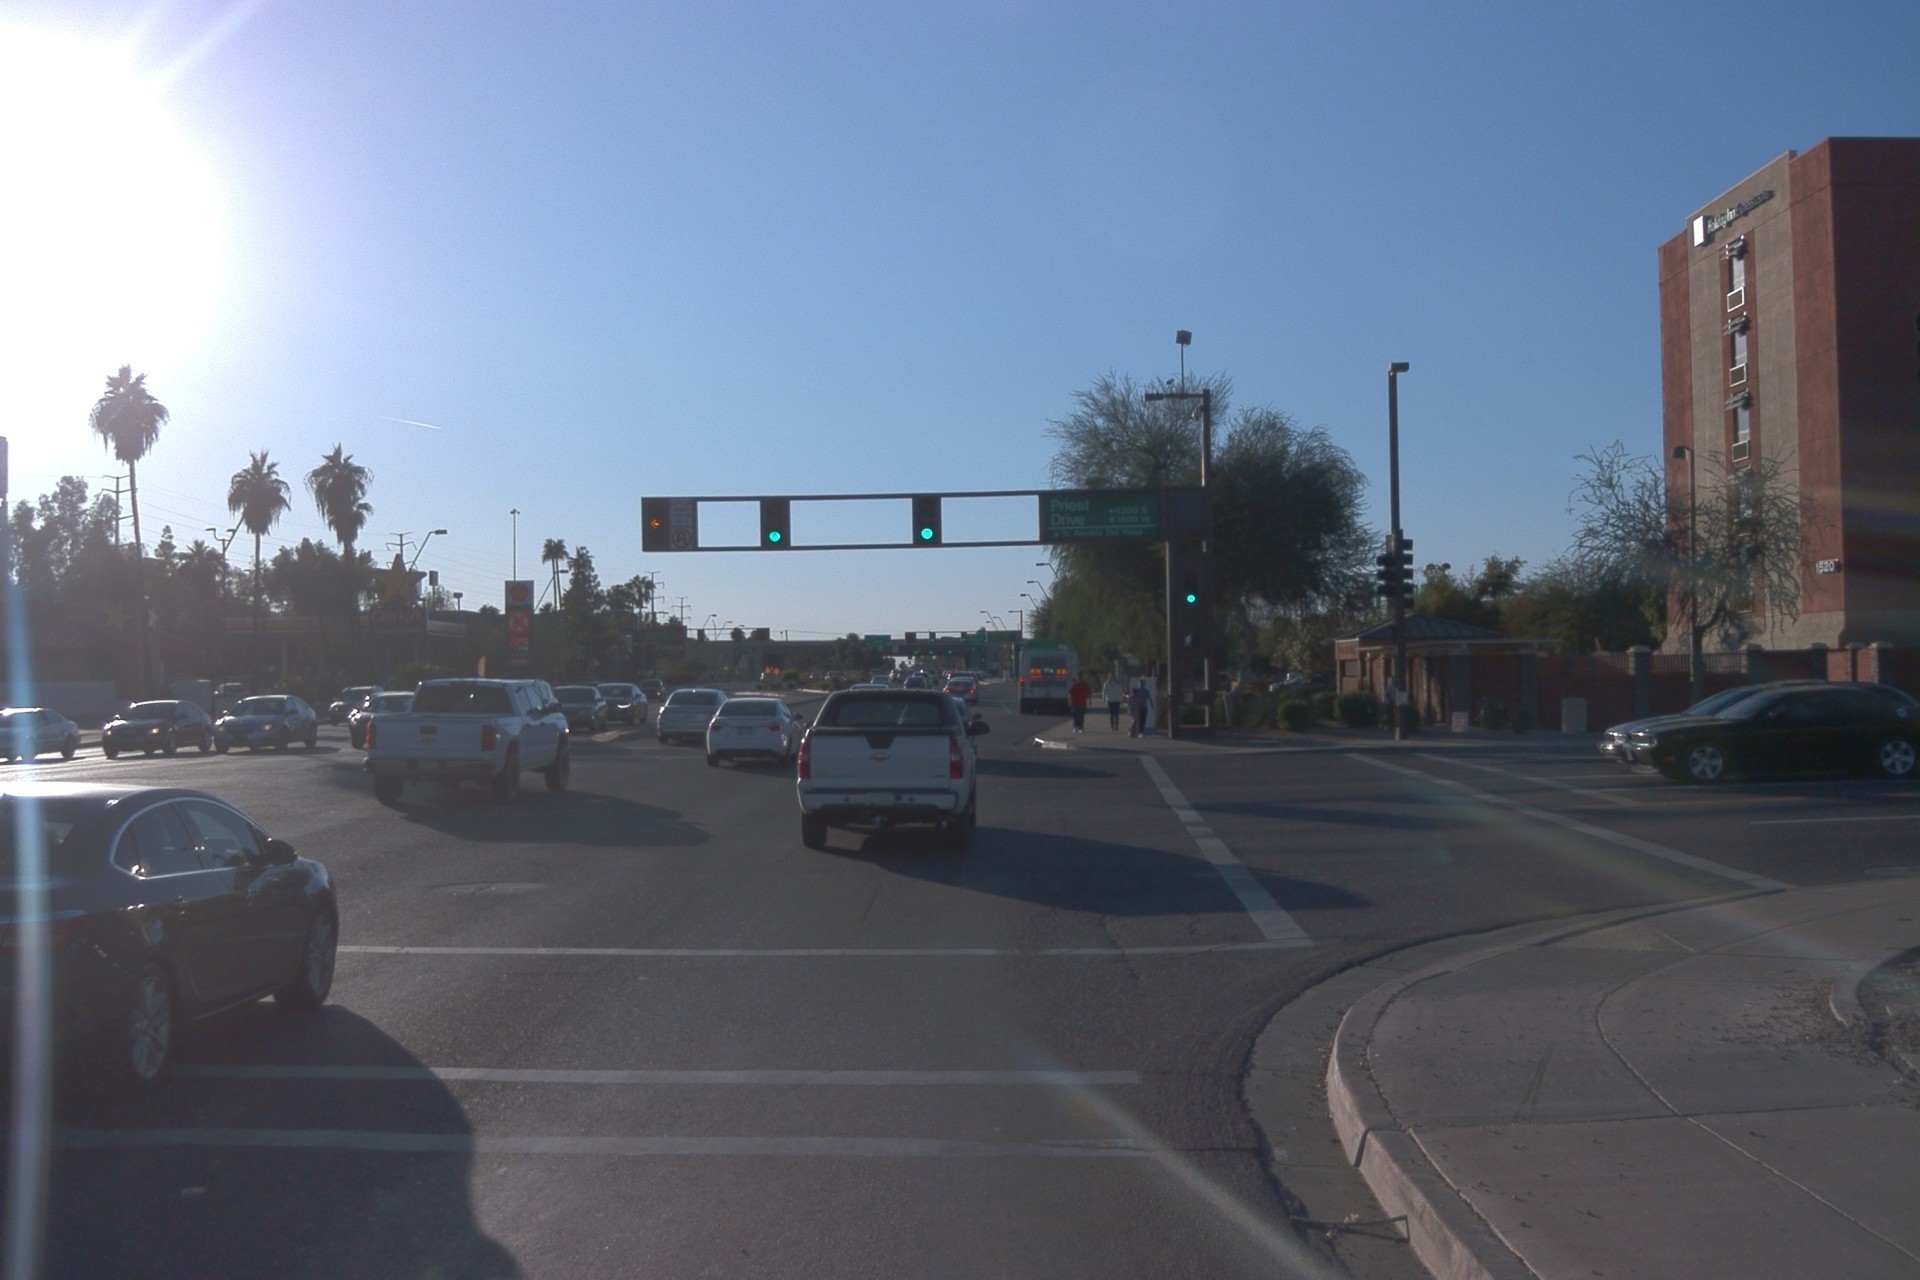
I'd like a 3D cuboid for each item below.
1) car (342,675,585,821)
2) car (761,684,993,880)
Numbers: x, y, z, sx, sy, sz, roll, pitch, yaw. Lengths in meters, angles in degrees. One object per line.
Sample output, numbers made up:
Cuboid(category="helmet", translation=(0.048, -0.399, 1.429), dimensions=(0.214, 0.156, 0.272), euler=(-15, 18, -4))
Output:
Cuboid(category="car", translation=(-7.801, 1.635, 33.440), dimensions=(2.394, 2.100, 5.772), euler=(1, -1, 1))
Cuboid(category="car", translation=(-0.884, 1.630, 25.859), dimensions=(2.477, 2.120, 5.357), euler=(1, -1, 2))
